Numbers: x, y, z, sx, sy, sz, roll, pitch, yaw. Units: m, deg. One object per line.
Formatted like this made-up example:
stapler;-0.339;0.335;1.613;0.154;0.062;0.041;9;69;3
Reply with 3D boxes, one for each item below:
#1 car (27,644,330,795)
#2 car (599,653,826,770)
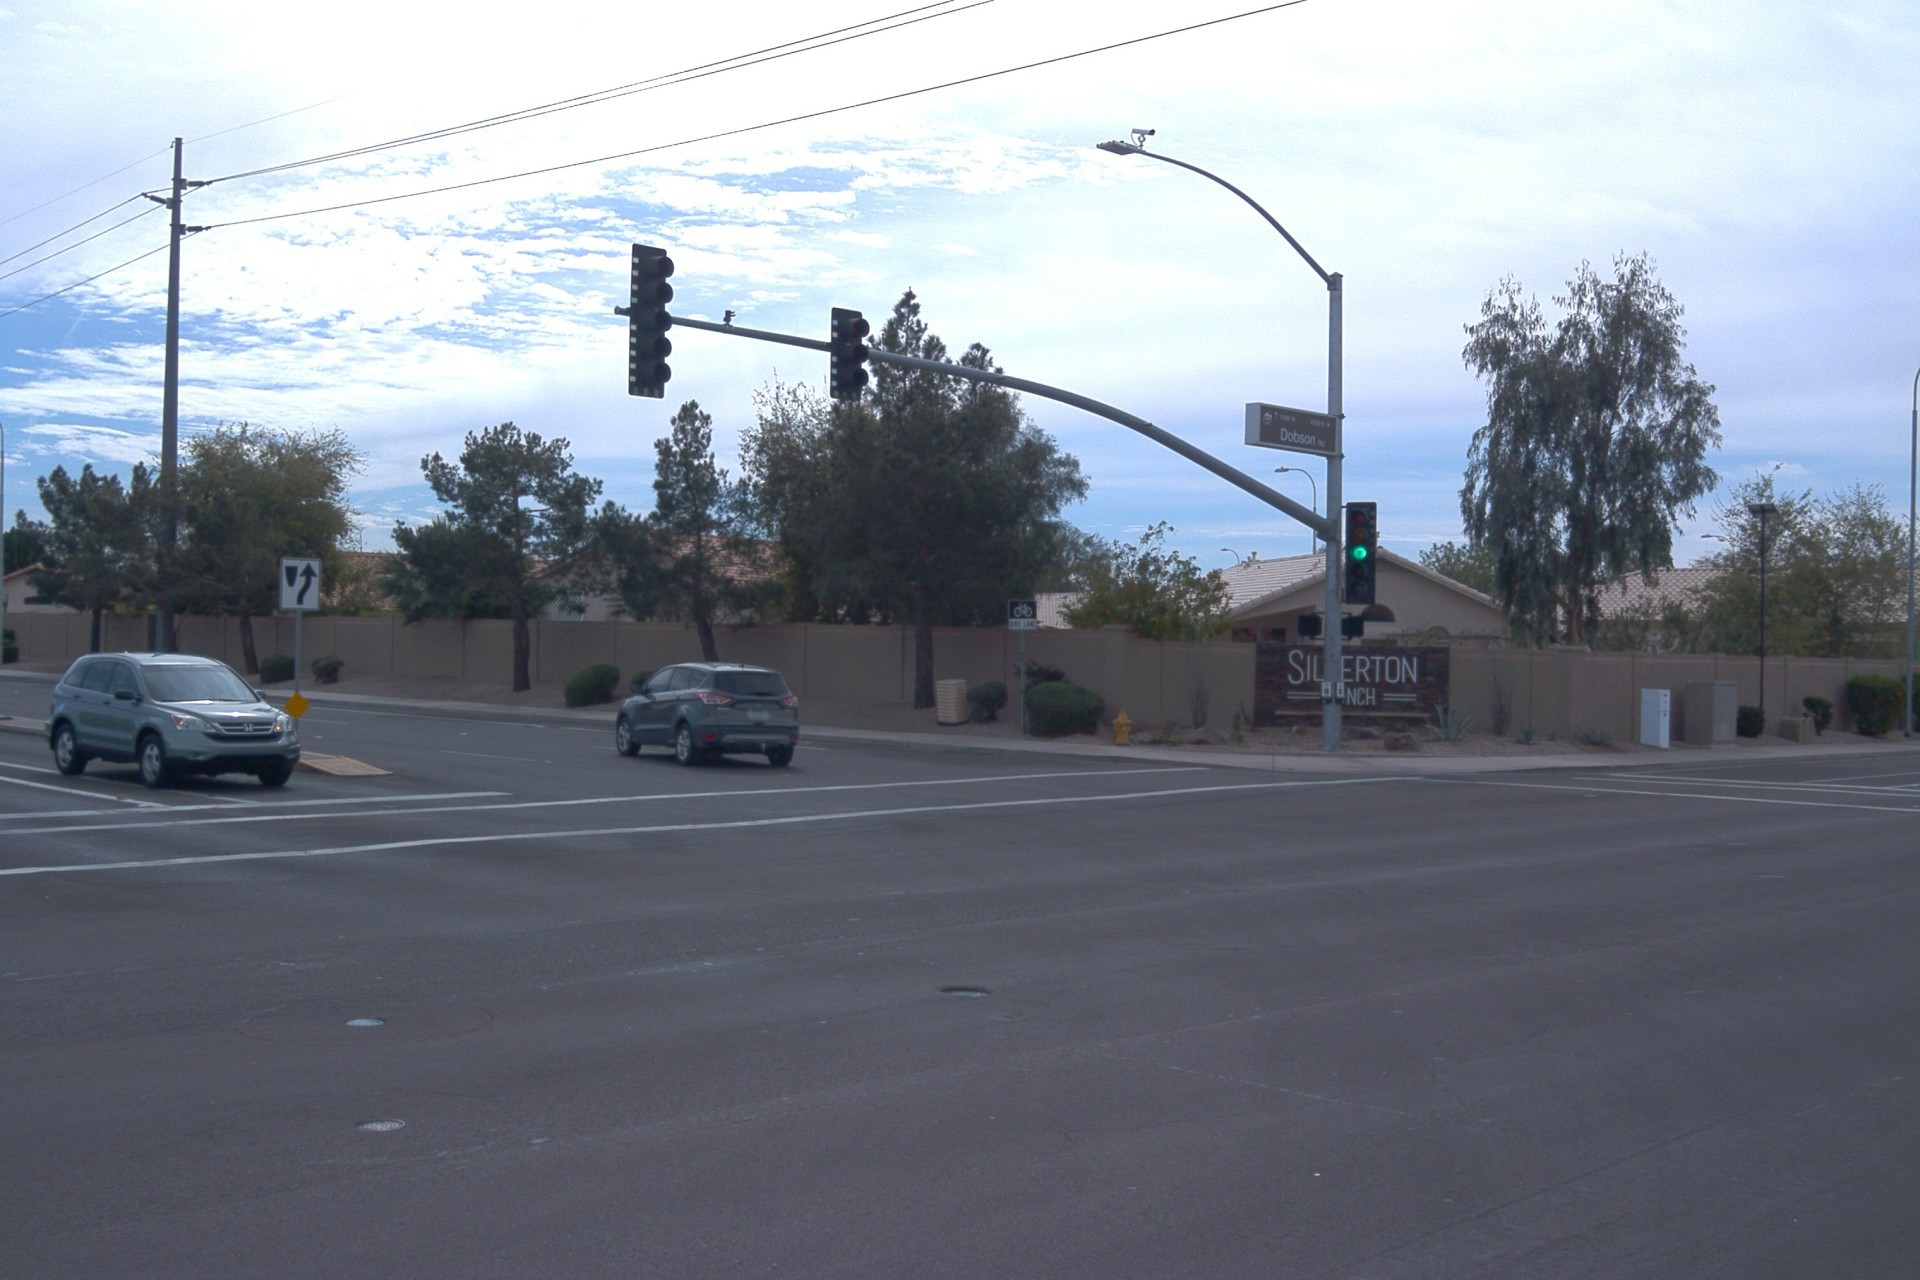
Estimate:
car;-10.398;0.978;27.337;4.385;1.760;2.061;1;0;44
car;-4.205;1.133;34.466;2.129;1.740;4.593;1;0;-29
